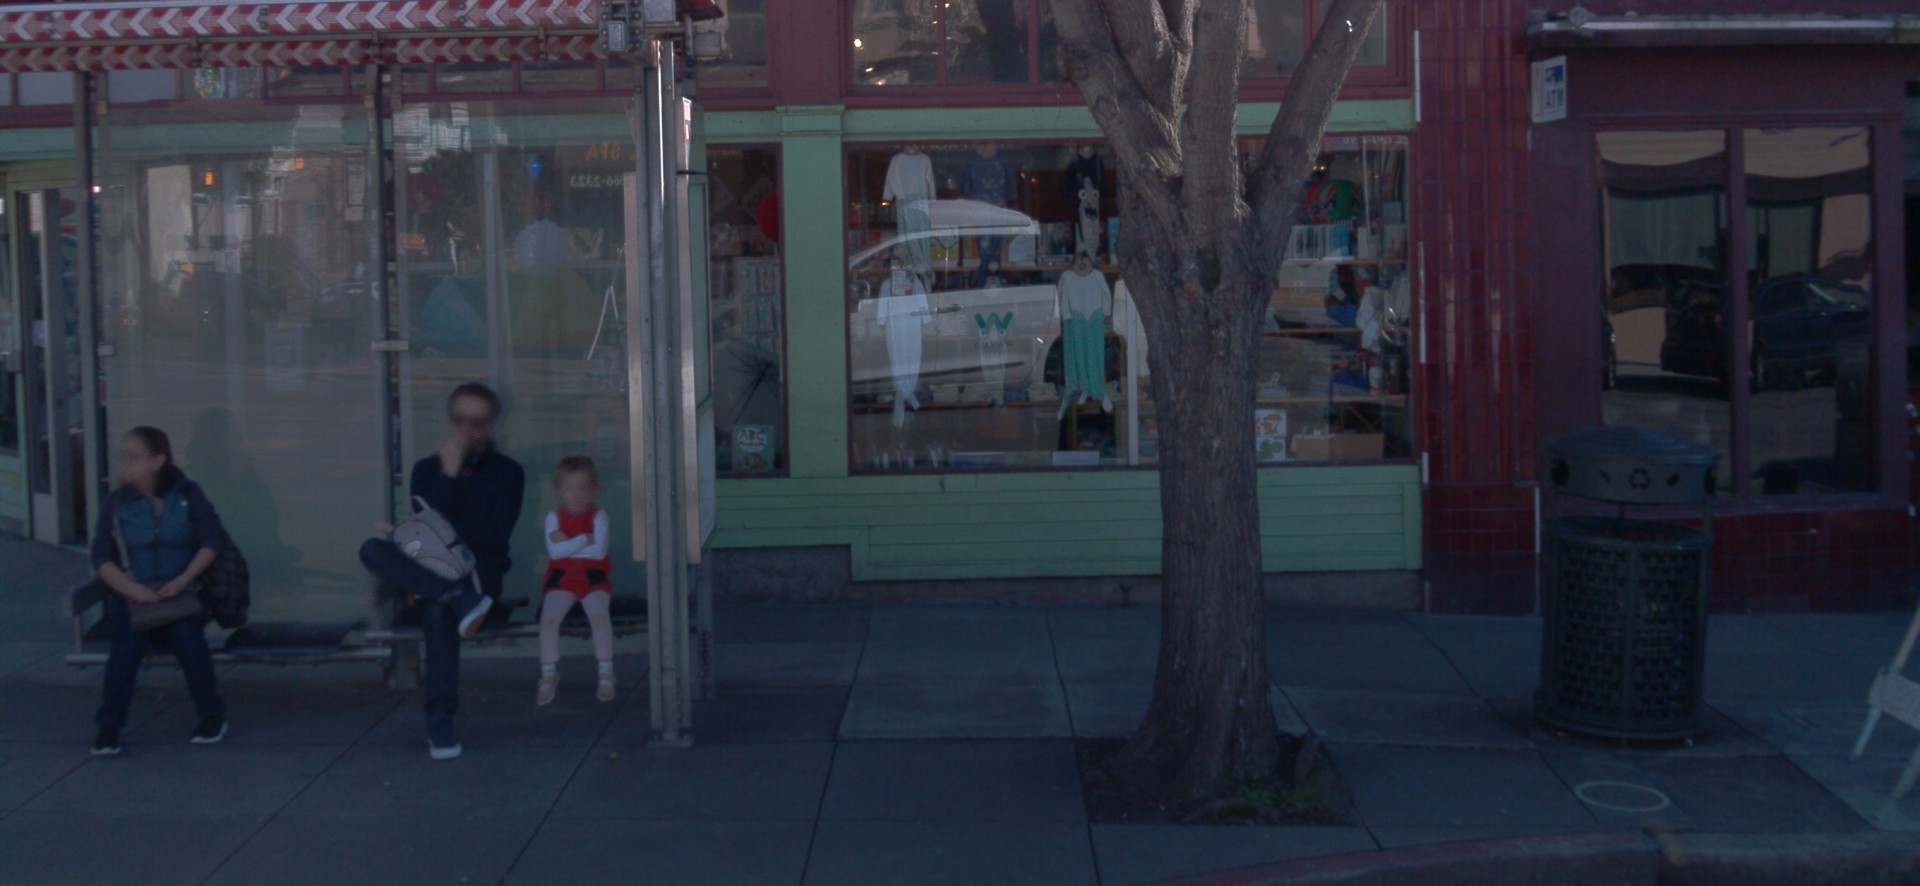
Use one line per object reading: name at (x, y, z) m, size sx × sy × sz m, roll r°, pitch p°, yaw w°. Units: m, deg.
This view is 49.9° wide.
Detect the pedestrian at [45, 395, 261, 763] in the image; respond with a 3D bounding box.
pedestrian at (-3.126, 0.489, 8.060) m, size 0.737 × 1.258 × 0.794 m, roll -1°, pitch 2°, yaw -19°

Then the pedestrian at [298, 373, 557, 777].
pedestrian at (-2.032, 0.466, 7.999) m, size 0.753 × 1.398 × 0.926 m, roll 0°, pitch 2°, yaw 0°

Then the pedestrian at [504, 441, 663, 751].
pedestrian at (-1.458, 0.575, 8.056) m, size 0.528 × 1.098 × 0.572 m, roll 0°, pitch 2°, yaw -3°
